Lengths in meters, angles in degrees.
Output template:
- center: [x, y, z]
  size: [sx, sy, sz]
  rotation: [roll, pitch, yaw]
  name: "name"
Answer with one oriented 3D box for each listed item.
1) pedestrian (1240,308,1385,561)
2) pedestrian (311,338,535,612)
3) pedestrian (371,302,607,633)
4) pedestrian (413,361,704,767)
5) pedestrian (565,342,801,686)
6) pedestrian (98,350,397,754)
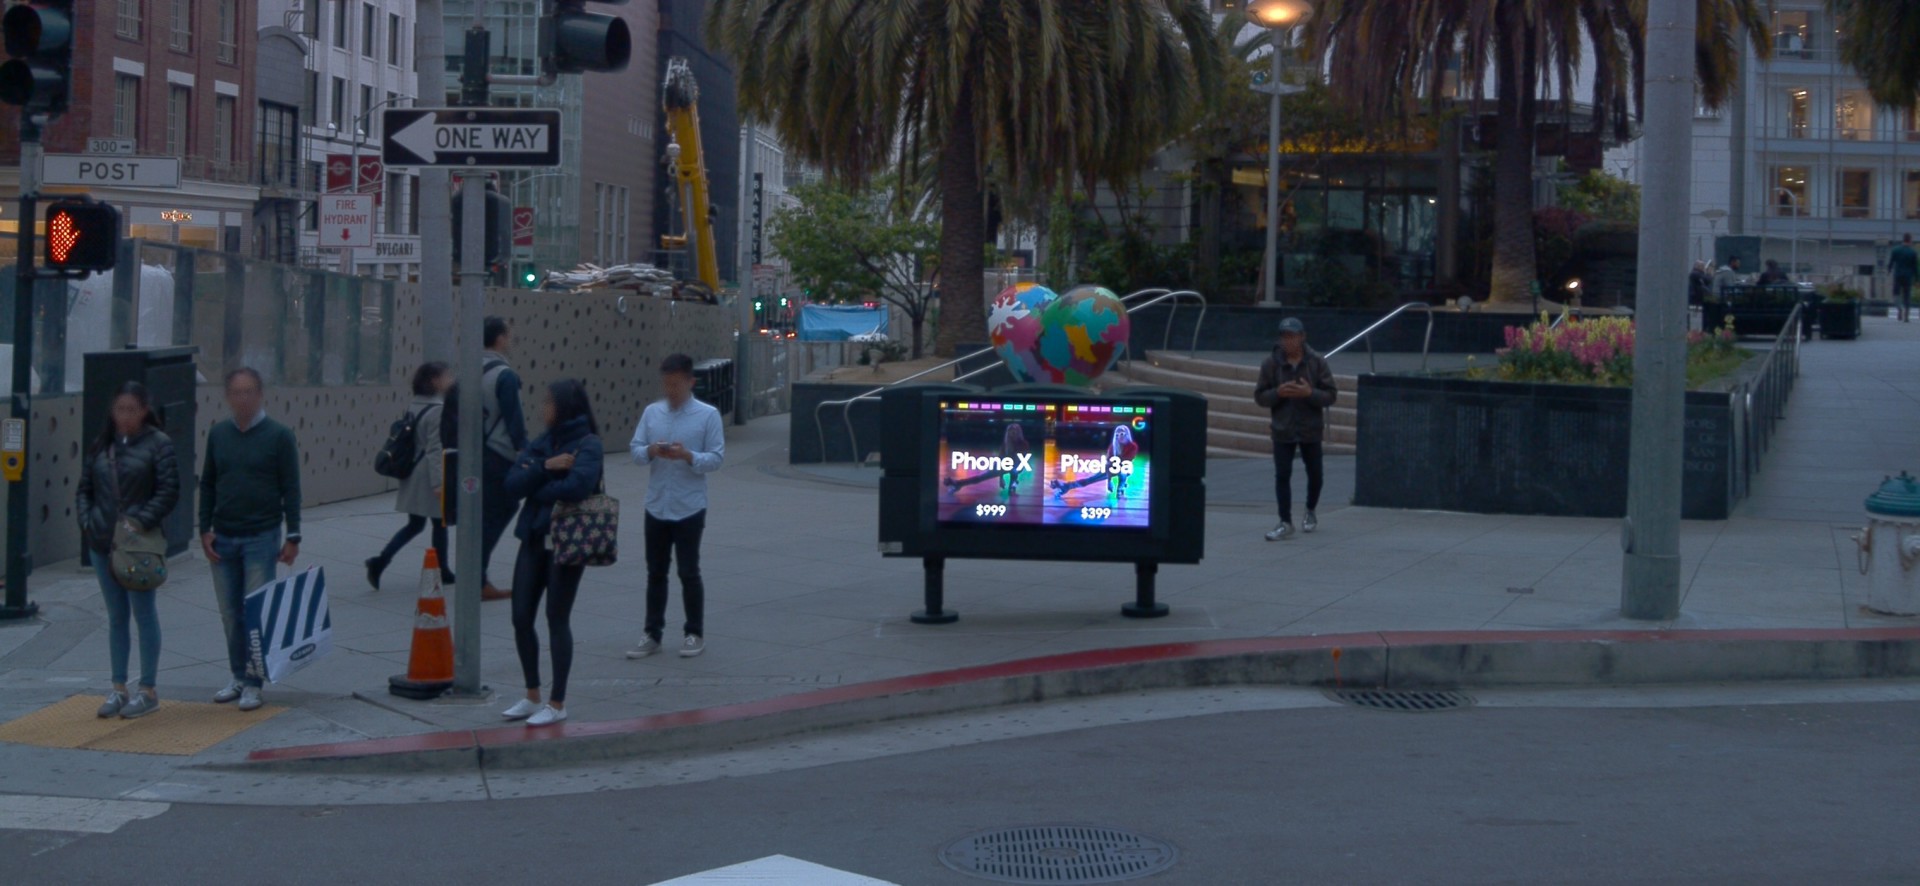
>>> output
- center: [2.619, -0.101, 15.265]
  size: [1.000, 1.759, 1.002]
  rotation: [0, 2, 13]
  name: "pedestrian"
- center: [-3.559, 0.164, 13.708]
  size: [0.919, 1.659, 1.116]
  rotation: [1, 2, 45]
  name: "pedestrian"
- center: [-3.022, 0.098, 13.244]
  size: [1.115, 1.959, 1.014]
  rotation: [-2, 2, -42]
  name: "pedestrian"
- center: [-1.896, 0.519, 9.875]
  size: [1.000, 1.749, 1.002]
  rotation: [0, 2, 18]
  name: "pedestrian"
- center: [-1.519, 0.347, 11.487]
  size: [1.000, 1.759, 1.002]
  rotation: [0, 2, 13]
  name: "pedestrian"
- center: [-3.561, 0.482, 10.368]
  size: [1.000, 1.829, 1.002]
  rotation: [1, 2, 30]
  name: "pedestrian"
